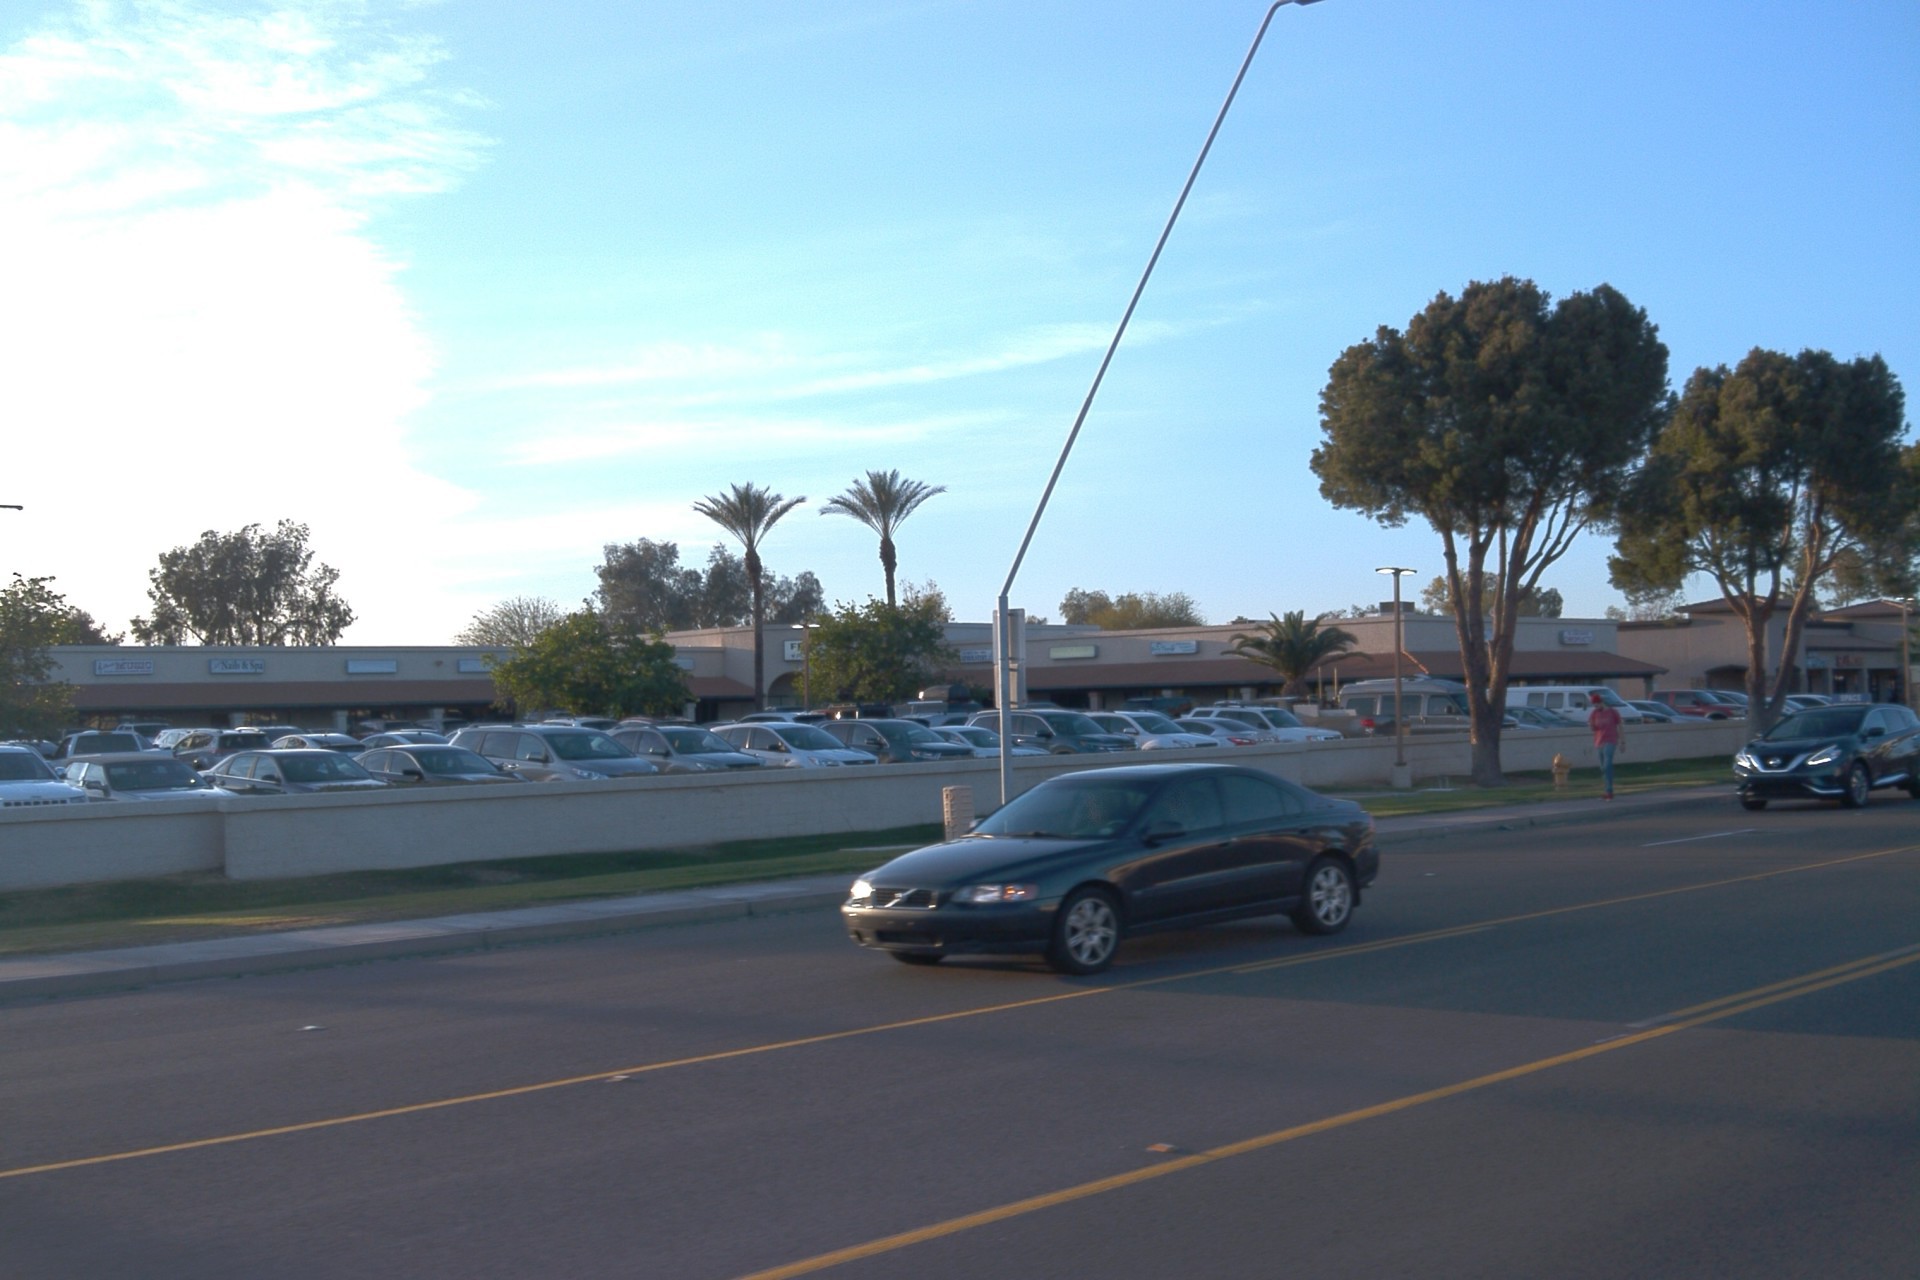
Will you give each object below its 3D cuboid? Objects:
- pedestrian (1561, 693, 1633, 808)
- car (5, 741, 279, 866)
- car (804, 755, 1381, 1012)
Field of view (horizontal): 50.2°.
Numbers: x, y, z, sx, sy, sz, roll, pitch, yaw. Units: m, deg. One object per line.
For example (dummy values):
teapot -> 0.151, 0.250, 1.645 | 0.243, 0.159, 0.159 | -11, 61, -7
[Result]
pedestrian -> 11.117, 1.906, 35.728 | 0.794, 1.940, 1.033 | -1, -1, 45
car -> -13.419, 2.589, 33.425 | 2.351, 1.660, 5.194 | 0, -1, -44
car -> 1.149, 1.746, 15.895 | 4.507, 1.490, 1.956 | 0, -1, -44
